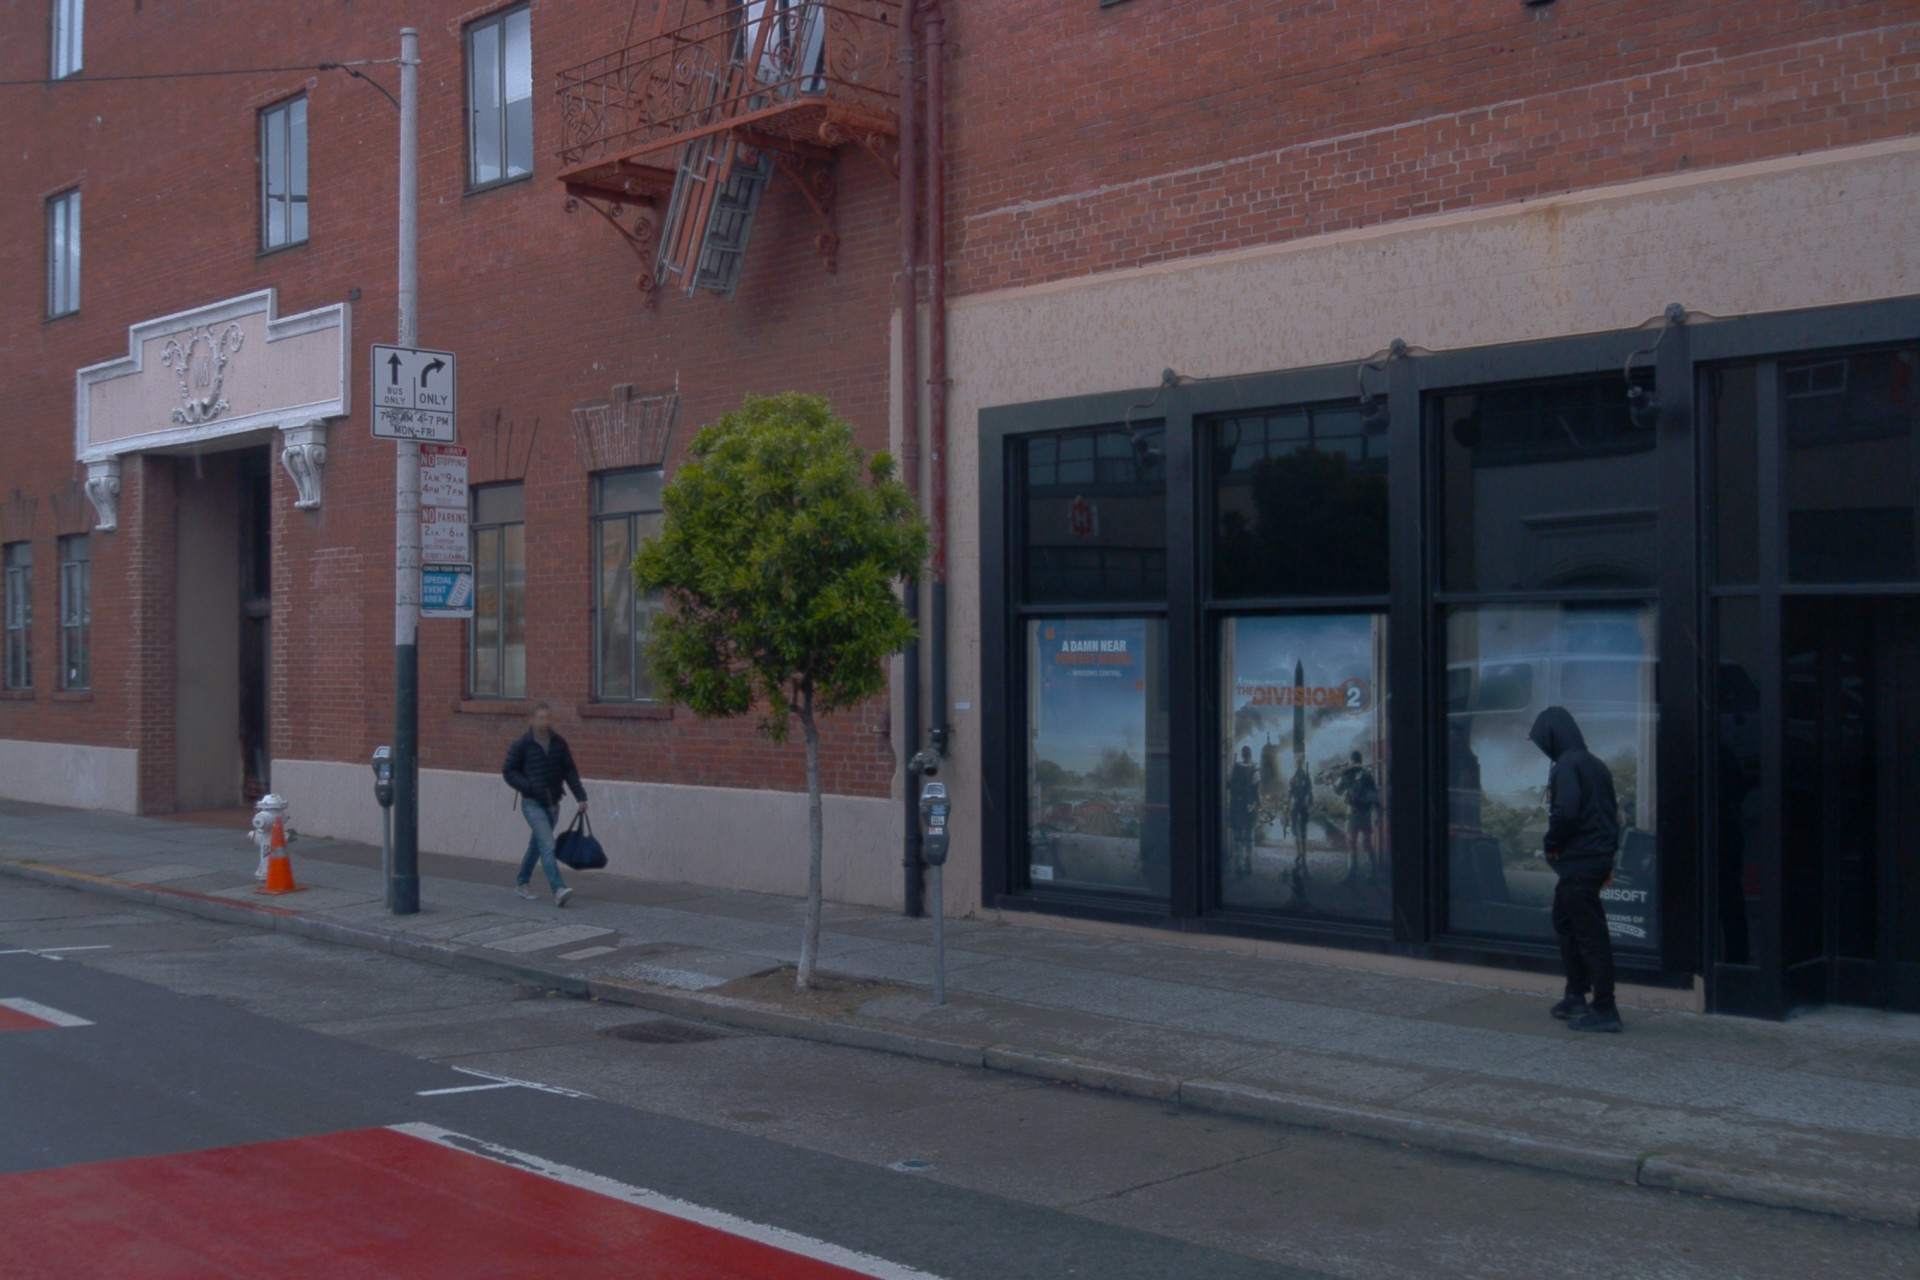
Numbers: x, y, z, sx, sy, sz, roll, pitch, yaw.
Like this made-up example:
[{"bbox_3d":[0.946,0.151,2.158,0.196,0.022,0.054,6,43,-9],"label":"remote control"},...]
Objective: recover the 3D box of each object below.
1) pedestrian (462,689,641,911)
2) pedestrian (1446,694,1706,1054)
[{"bbox_3d":[-3.379,1.285,17.099,0.979,1.730,1.128,1,-1,-45],"label":"pedestrian"},{"bbox_3d":[3.401,1.233,11.444,0.798,1.848,1.126,1,-1,-45],"label":"pedestrian"}]
